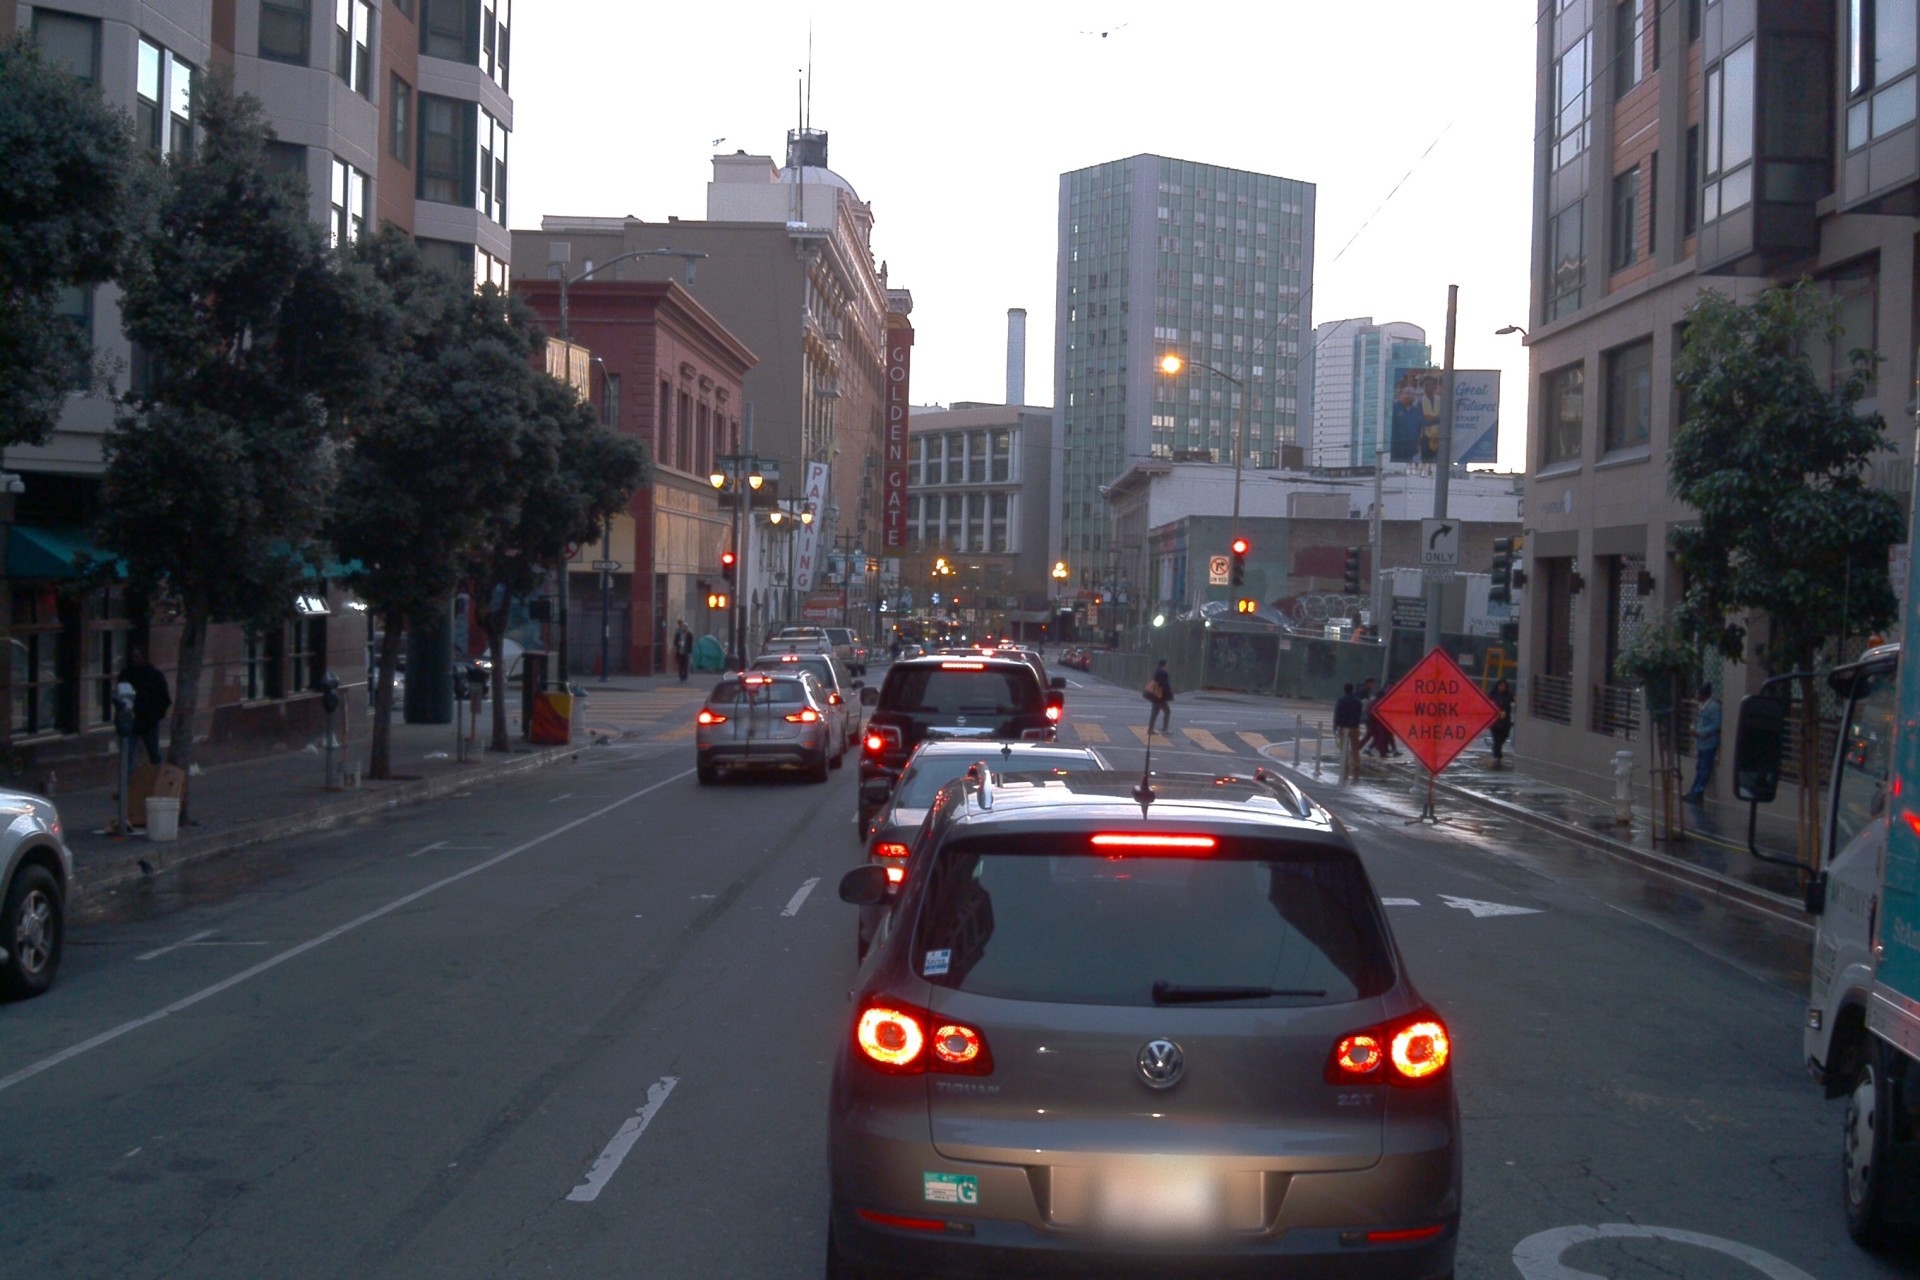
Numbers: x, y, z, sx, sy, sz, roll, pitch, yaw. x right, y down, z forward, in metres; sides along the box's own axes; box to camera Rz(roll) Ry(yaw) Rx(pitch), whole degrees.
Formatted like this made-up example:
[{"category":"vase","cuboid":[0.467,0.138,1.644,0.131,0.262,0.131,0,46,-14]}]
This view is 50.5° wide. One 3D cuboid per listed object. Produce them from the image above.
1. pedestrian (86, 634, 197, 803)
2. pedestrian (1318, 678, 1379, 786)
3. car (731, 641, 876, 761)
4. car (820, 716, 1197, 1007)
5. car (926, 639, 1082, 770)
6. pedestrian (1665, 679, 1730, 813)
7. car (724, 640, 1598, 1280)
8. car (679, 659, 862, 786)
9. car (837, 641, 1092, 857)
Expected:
[{"category":"pedestrian","cuboid":[-9.313,0.872,23.191,0.828,1.860,1.059,1,1,-1]},{"category":"pedestrian","cuboid":[6.687,1.577,35.069,0.777,1.790,0.924,1,1,-4]},{"category":"car","cuboid":[-2.657,0.998,35.547,1.896,1.880,4.462,1,1,4]},{"category":"car","cuboid":[0.292,1.324,13.592,2.089,1.400,4.279,1,1,1]},{"category":"car","cuboid":[0.622,0.856,29.391,2.036,1.650,4.678,1,1,1]},{"category":"pedestrian","cuboid":[10.762,1.534,29.715,0.659,1.890,0.755,1,1,4]},{"category":"car","cuboid":[0.546,1.064,7.023,2.109,2.050,3.981,1,1,2]},{"category":"car","cuboid":[-2.614,1.111,29.087,2.110,1.572,4.118,1,1,1]},{"category":"car","cuboid":[0.036,1.029,21.904,2.368,1.940,5.339,1,1,0]}]
